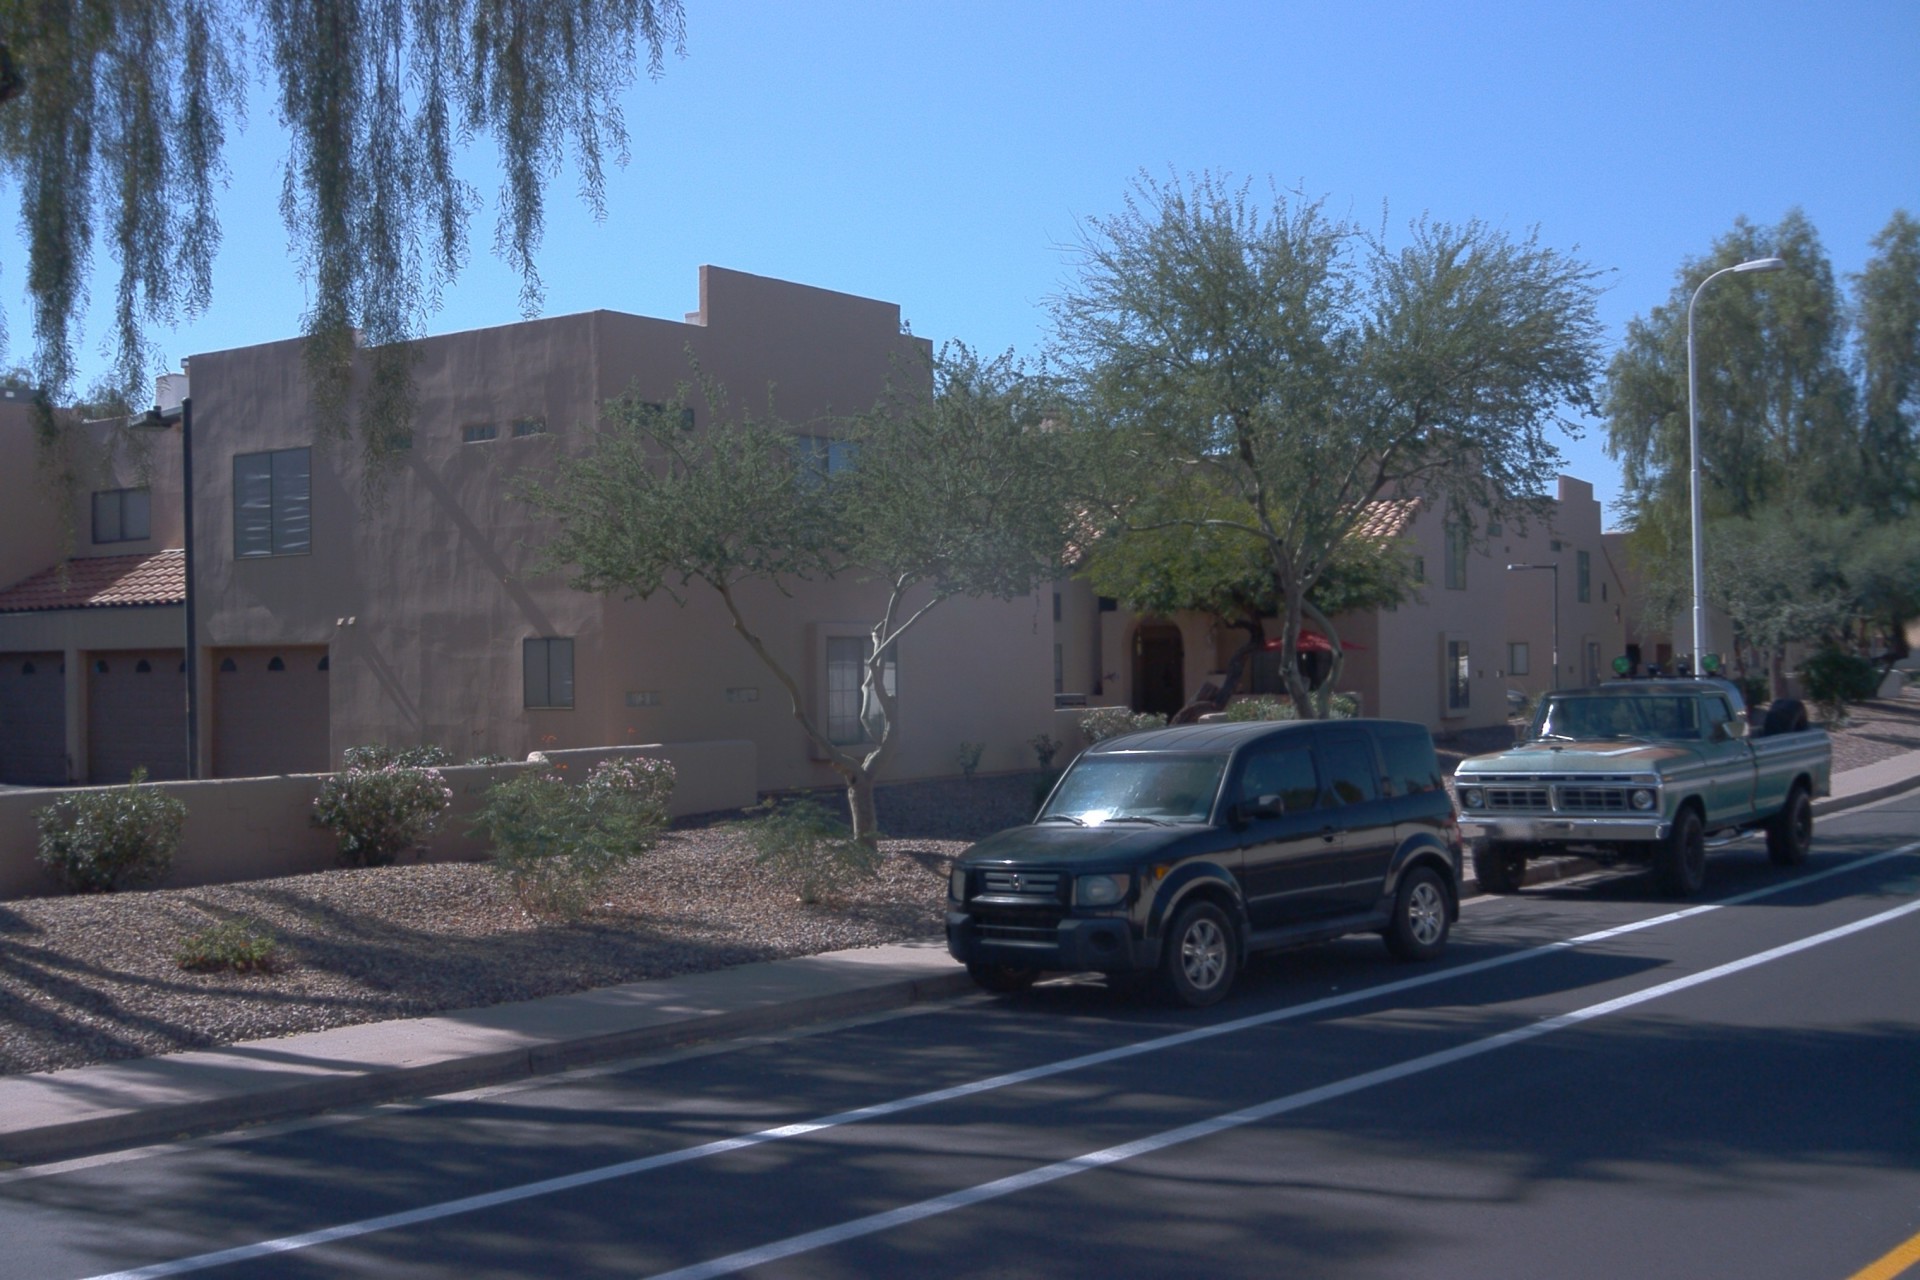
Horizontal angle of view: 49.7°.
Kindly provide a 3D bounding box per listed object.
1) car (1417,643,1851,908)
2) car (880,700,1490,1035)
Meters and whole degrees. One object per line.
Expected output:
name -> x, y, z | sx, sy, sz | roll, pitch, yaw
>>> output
car -> 6.935, 1.179, 20.830 | 2.407, 2.270, 5.623 | 0, 0, 37
car -> 1.717, 1.410, 14.536 | 1.994, 1.860, 4.430 | 0, 0, 43
